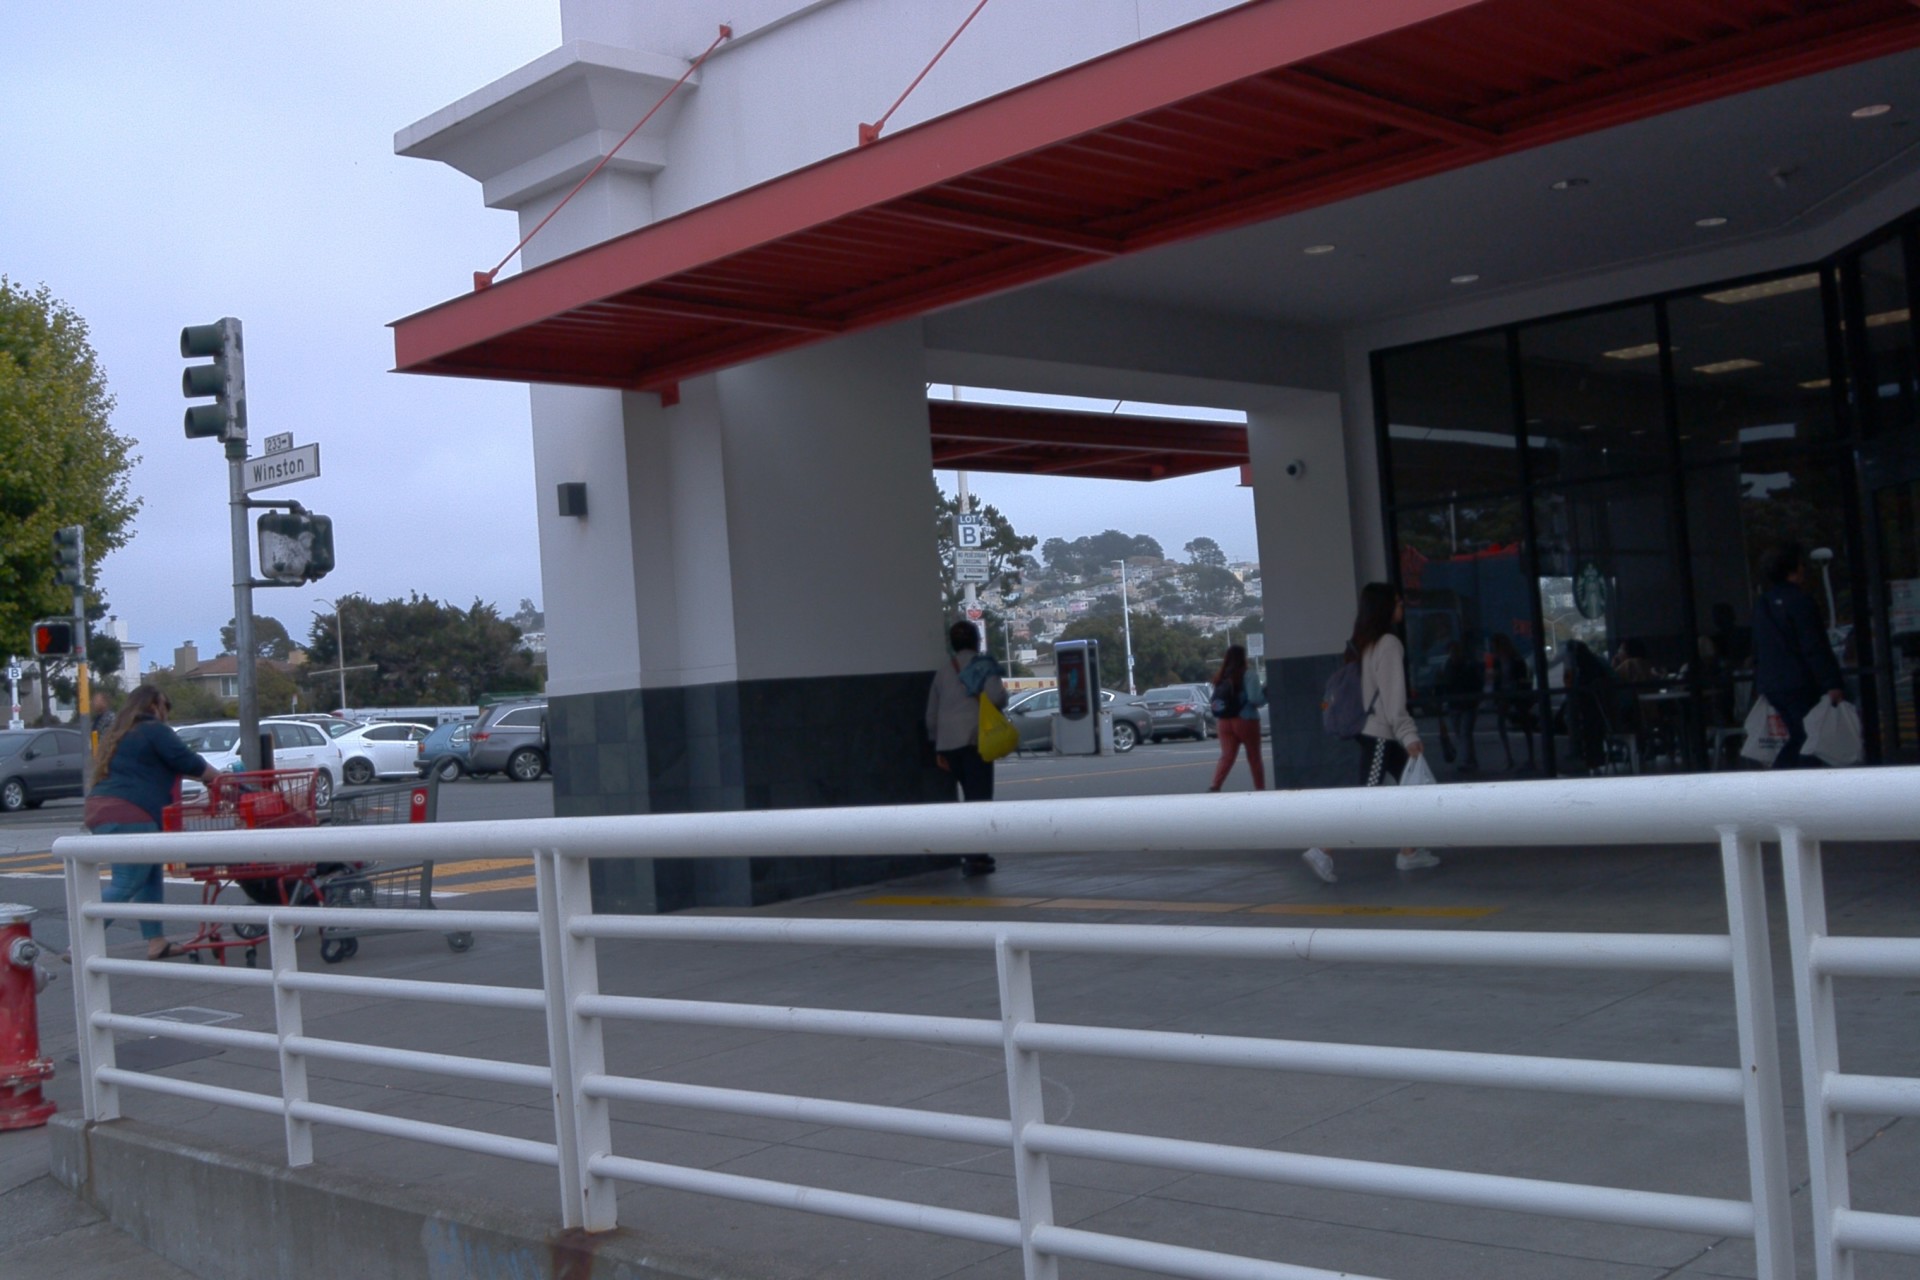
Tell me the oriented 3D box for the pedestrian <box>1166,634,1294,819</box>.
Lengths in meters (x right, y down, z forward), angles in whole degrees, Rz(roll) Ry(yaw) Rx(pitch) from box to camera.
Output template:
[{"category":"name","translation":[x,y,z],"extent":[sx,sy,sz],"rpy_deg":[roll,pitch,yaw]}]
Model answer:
[{"category":"pedestrian","translation":[2.508,0.776,19.095],"extent":[0.789,1.650,0.936],"rpy_deg":[0,0,42]}]

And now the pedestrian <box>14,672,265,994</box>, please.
[{"category":"pedestrian","translation":[-4.680,1.053,11.767],"extent":[0.710,1.710,1.124],"rpy_deg":[0,0,38]}]

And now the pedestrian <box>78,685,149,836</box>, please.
[{"category":"pedestrian","translation":[-10.912,1.544,26.520],"extent":[0.618,1.900,0.743],"rpy_deg":[0,0,-2]}]

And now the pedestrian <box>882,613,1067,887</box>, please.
[{"category":"pedestrian","translation":[0.091,0.631,12.438],"extent":[0.787,1.580,0.809],"rpy_deg":[0,0,36]}]

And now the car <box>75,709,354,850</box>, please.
[{"category":"car","translation":[-11.161,2.031,31.137],"extent":[1.974,1.760,4.391],"rpy_deg":[0,1,12]}]

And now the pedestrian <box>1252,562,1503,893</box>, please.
[{"category":"pedestrian","translation":[2.081,0.410,10.333],"extent":[0.952,1.580,0.817],"rpy_deg":[0,0,-17]}]

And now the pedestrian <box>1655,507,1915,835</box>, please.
[{"category":"pedestrian","translation":[4.561,0.157,11.422],"extent":[0.952,1.730,0.955],"rpy_deg":[0,0,-14]}]
